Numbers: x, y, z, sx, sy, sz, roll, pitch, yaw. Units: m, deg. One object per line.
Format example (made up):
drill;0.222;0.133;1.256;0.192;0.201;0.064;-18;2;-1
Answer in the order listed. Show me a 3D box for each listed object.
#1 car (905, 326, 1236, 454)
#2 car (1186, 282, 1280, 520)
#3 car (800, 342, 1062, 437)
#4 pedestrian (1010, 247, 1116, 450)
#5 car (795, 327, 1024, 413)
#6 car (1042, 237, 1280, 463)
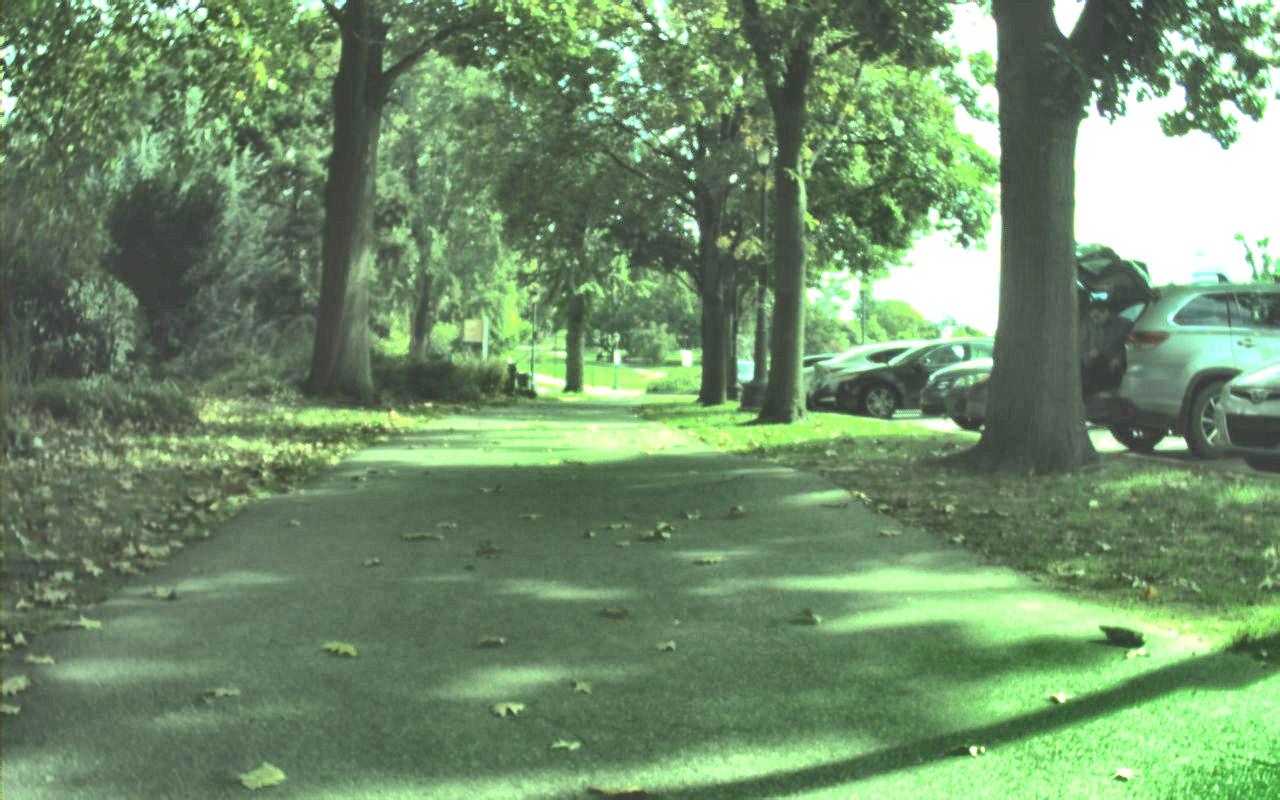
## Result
car;5.996;-0.127;16.728;4.400;1.605;1.955;0;1;-7
car;6.651;0.018;8.633;4.433;1.577;1.961;0;1;-11
car;5.249;-0.180;22.519;4.456;1.616;1.977;0;1;-4
pedestrian;4.057;-0.474;11.674;0.961;1.880;0.896;1;0;12
car;5.539;-0.587;25.716;4.411;1.680;1.961;0;1;-6
car;6.387;-0.432;11.467;4.520;1.973;2.048;0;1;-1
